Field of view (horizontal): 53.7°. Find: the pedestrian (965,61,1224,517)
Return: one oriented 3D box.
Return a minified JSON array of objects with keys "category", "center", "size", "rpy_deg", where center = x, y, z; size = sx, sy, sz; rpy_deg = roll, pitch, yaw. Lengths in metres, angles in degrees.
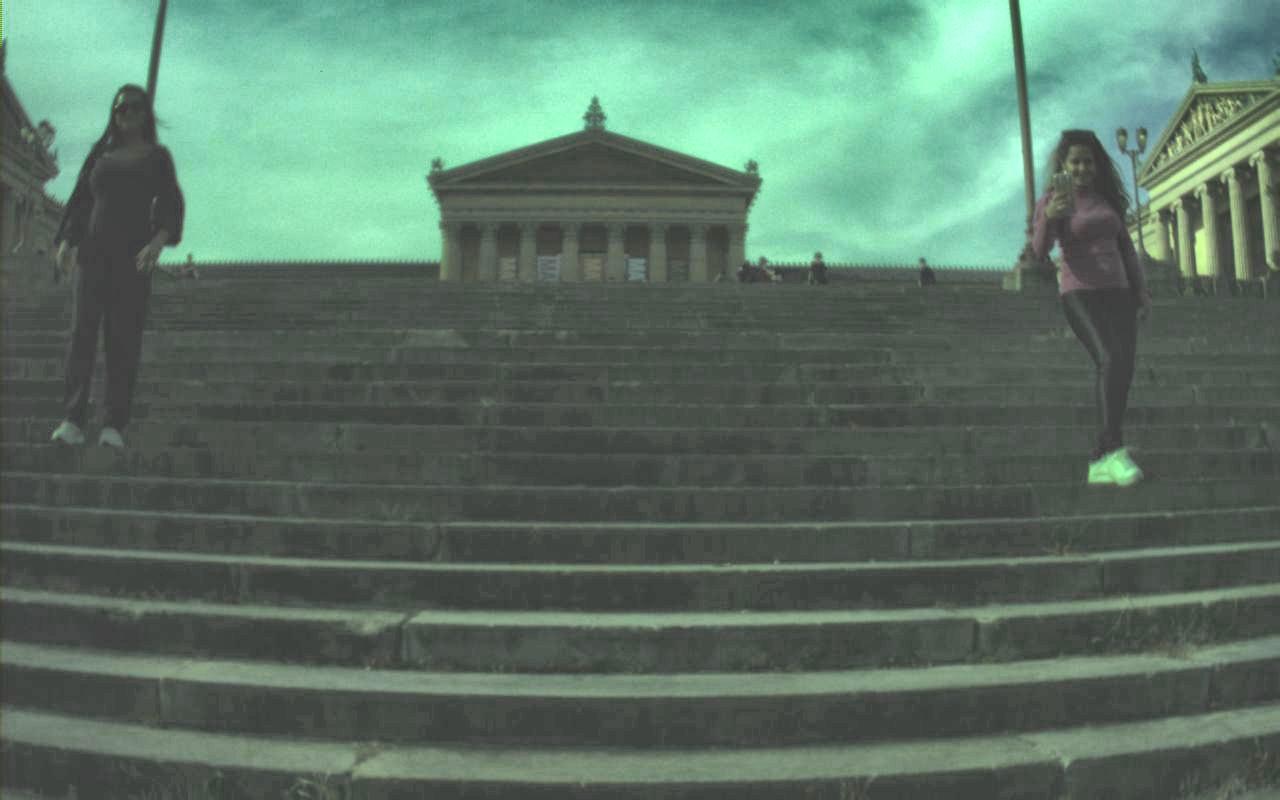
[{"category":"pedestrian","center":[1.876,-0.424,4.881],"size":[0.770,1.696,0.802],"rpy_deg":[0,0,-24]}]

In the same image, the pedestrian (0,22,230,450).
[{"category":"pedestrian","center":[-2.387,-0.696,5.222],"size":[0.784,1.795,0.801],"rpy_deg":[0,0,3]}]
